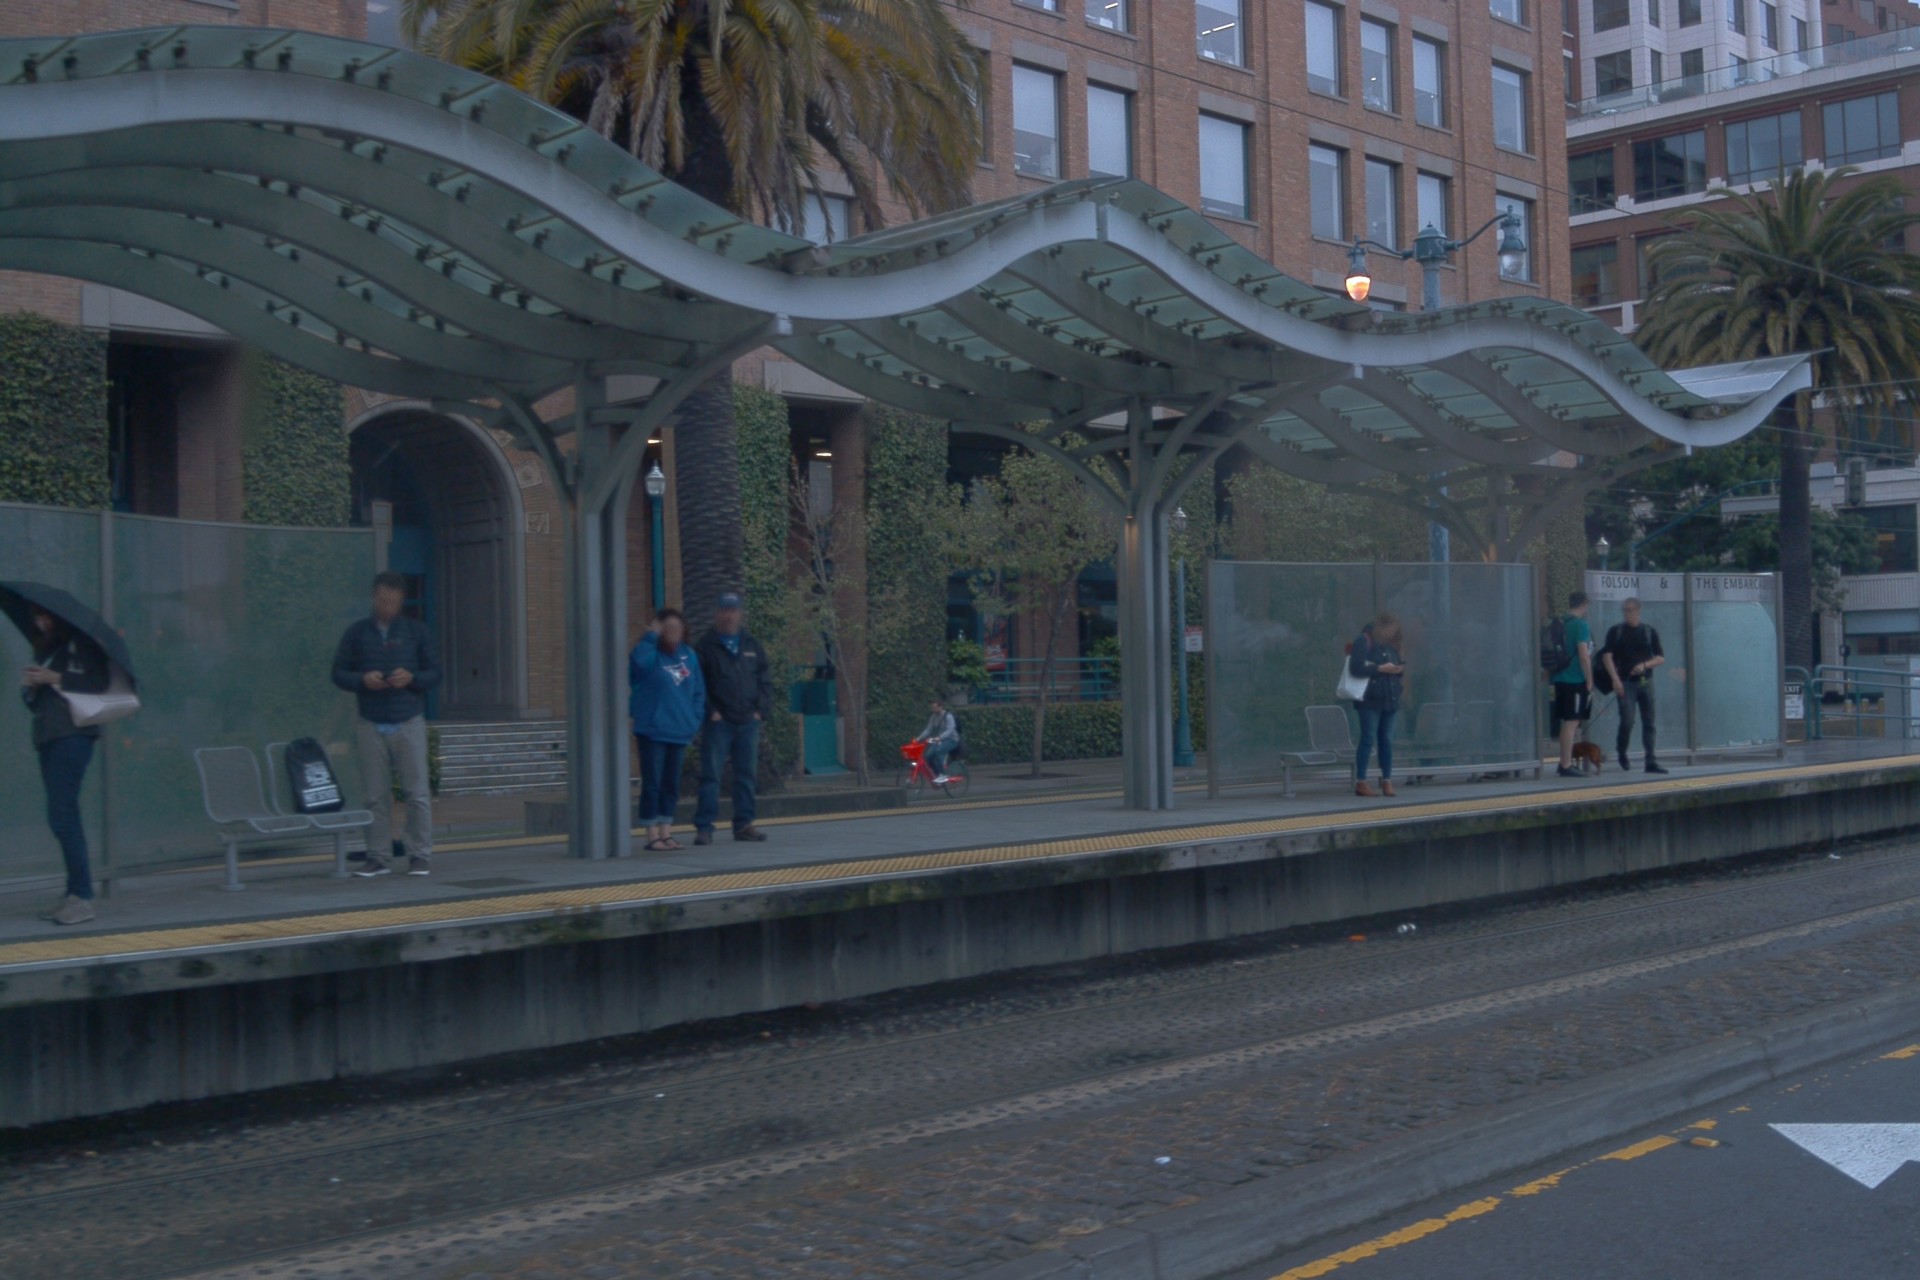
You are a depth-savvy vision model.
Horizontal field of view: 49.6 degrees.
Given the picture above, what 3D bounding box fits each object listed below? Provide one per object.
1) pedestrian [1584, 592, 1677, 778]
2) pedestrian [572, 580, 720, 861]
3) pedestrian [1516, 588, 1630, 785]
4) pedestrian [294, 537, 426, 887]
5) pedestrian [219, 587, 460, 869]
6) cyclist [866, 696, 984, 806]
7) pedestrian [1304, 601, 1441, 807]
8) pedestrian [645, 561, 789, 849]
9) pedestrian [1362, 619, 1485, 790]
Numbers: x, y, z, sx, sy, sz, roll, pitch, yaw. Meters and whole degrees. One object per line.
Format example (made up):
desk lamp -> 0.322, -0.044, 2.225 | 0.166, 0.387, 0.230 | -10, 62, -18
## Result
pedestrian -> 6.999, 0.458, 21.758 | 0.886, 1.890, 0.903 | 0, 0, 15
pedestrian -> -2.105, 0.519, 13.922 | 0.785, 1.810, 0.696 | 0, 0, -30
pedestrian -> 6.219, 0.461, 21.141 | 0.837, 1.960, 0.889 | 0, 0, -7
pedestrian -> -3.542, 0.414, 12.325 | 0.627, 2.008, 0.717 | 0, 0, -7
pedestrian -> -4.049, 0.541, 13.572 | 1.092, 1.730, 1.113 | 0, 0, 44
cyclist -> -0.612, 1.955, 37.199 | 2.078, 1.870, 0.874 | 0, 0, -44
pedestrian -> 3.661, 0.548, 18.472 | 0.846, 1.770, 0.860 | 0, 0, -43
pedestrian -> -1.694, 0.436, 14.457 | 0.785, 1.930, 0.696 | 0, 0, -30
pedestrian -> 4.639, 0.629, 20.859 | 0.902, 1.670, 0.825 | 0, 0, -24
